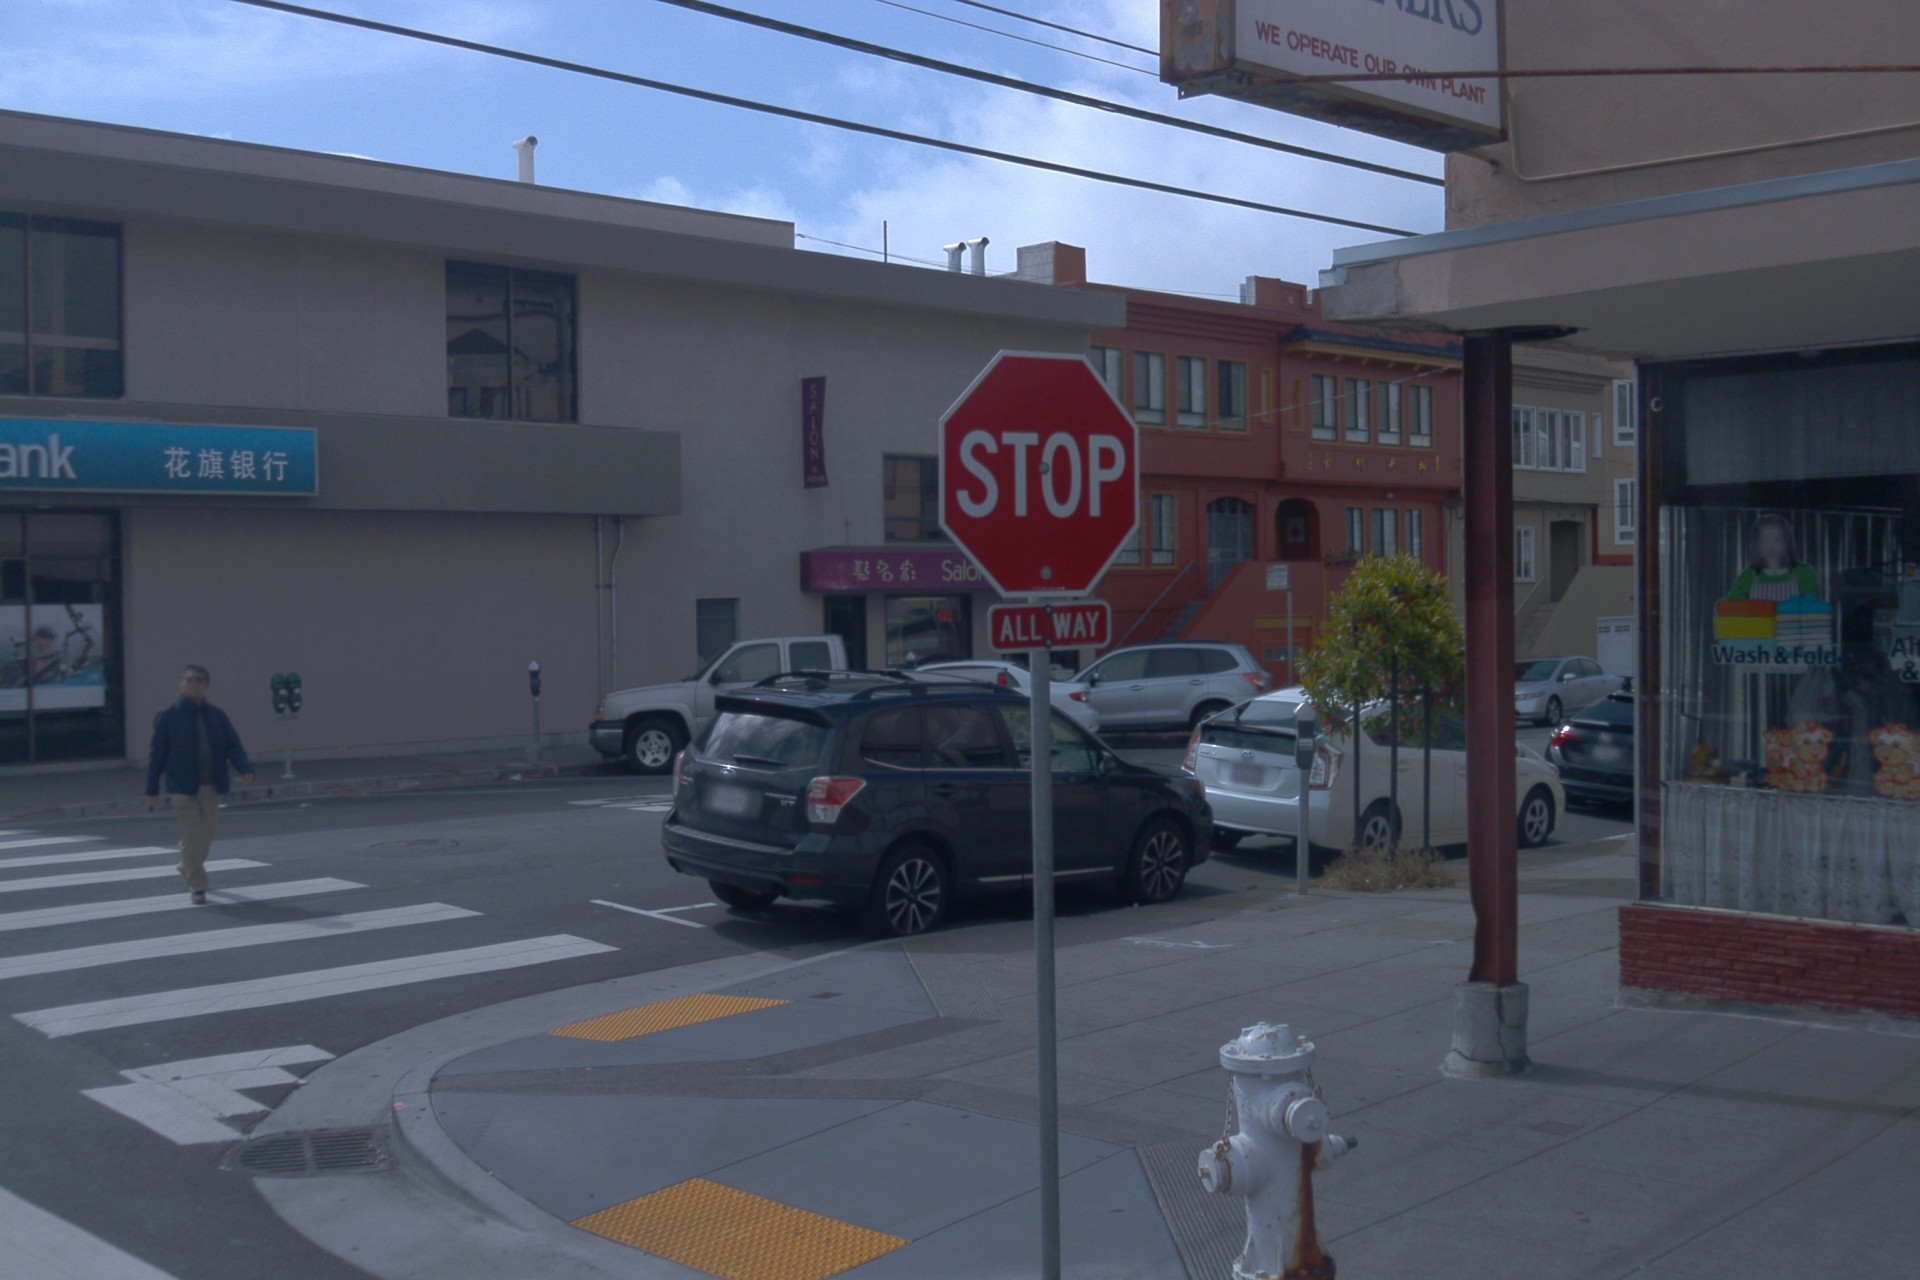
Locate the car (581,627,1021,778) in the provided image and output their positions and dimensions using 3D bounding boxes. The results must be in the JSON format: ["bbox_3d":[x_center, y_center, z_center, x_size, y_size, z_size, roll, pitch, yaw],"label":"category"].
[{"bbox_3d":[-2.149,0.841,28.581,5.805,1.970,2.405,0,-1,-2],"label":"car"}]

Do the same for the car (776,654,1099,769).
[{"bbox_3d":[-0.282,1.043,31.102,4.698,1.630,2.090,0,-1,4],"label":"car"}]

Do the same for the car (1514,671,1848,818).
[{"bbox_3d":[8.246,1.106,23.475,2.020,1.497,4.203,0,-1,44],"label":"car"}]

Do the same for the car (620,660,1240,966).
[{"bbox_3d":[-0.081,1.098,15.061,2.005,1.877,4.386,0,-1,44],"label":"car"}]

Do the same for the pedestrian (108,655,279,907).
[{"bbox_3d":[-5.519,0.979,14.892,0.843,1.734,0.955,1,-1,-42],"label":"pedestrian"}]

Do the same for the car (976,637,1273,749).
[{"bbox_3d":[2.710,0.846,33.901,4.703,1.730,2.088,0,-1,7],"label":"car"}]

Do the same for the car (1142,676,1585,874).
[{"bbox_3d":[3.774,1.123,18.908,2.020,1.567,4.203,0,-1,44],"label":"car"}]
